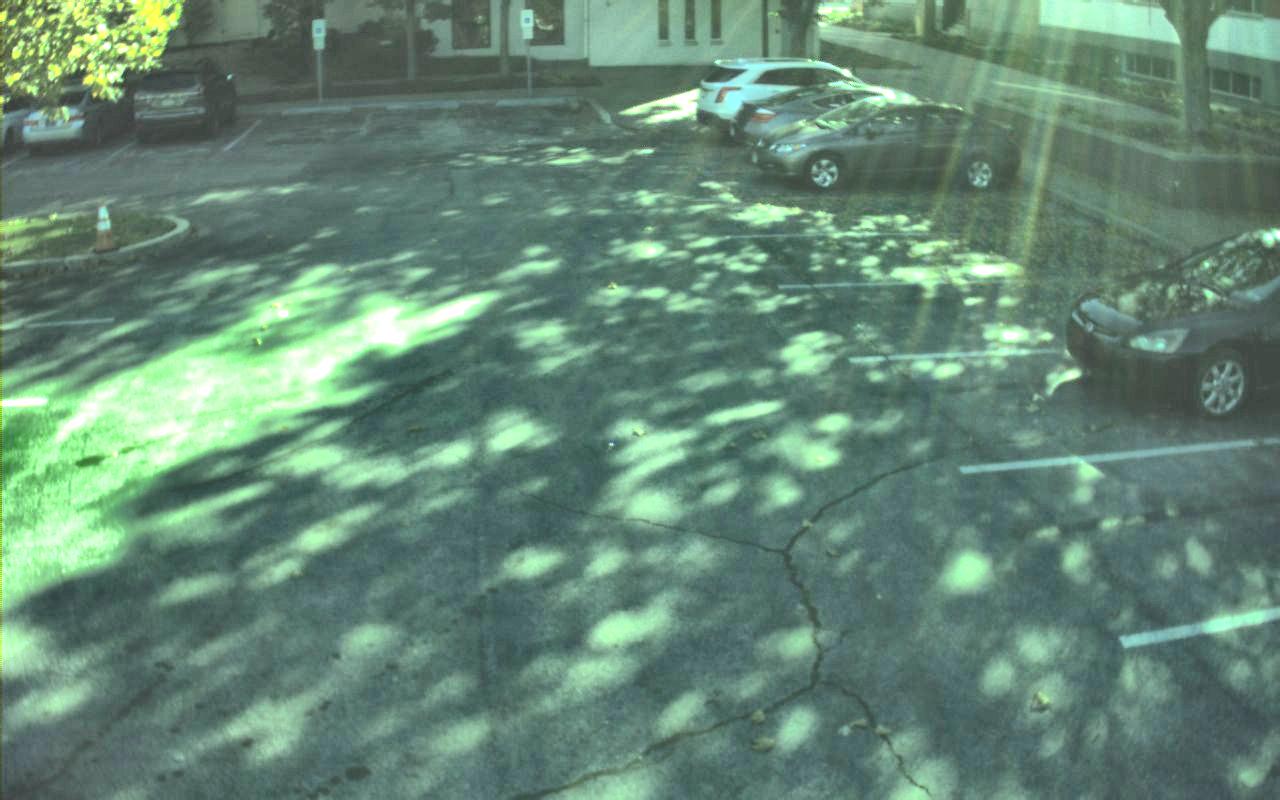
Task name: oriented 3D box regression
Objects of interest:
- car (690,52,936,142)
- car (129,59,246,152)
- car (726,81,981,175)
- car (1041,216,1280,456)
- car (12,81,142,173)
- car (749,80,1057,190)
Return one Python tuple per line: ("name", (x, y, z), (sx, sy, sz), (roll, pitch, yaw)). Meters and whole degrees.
("car", (3.470, -6.134, 24.731), (4.603, 1.692, 1.990), (-5, 17, -12))
("car", (-10.402, -6.832, 26.993), (1.983, 1.746, 4.559), (-4, 17, -9))
("car", (3.865, -4.983, 22.372), (4.305, 1.534, 1.920), (-4, 16, -9))
("car", (6.074, -0.729, 10.372), (4.553, 1.595, 1.977), (-4, 16, -9))
("car", (-13.144, -6.392, 26.448), (1.964, 1.642, 4.506), (-3, 17, -8))
("car", (4.303, -4.382, 20.050), (4.728, 1.587, 2.011), (-3, 16, -8))
